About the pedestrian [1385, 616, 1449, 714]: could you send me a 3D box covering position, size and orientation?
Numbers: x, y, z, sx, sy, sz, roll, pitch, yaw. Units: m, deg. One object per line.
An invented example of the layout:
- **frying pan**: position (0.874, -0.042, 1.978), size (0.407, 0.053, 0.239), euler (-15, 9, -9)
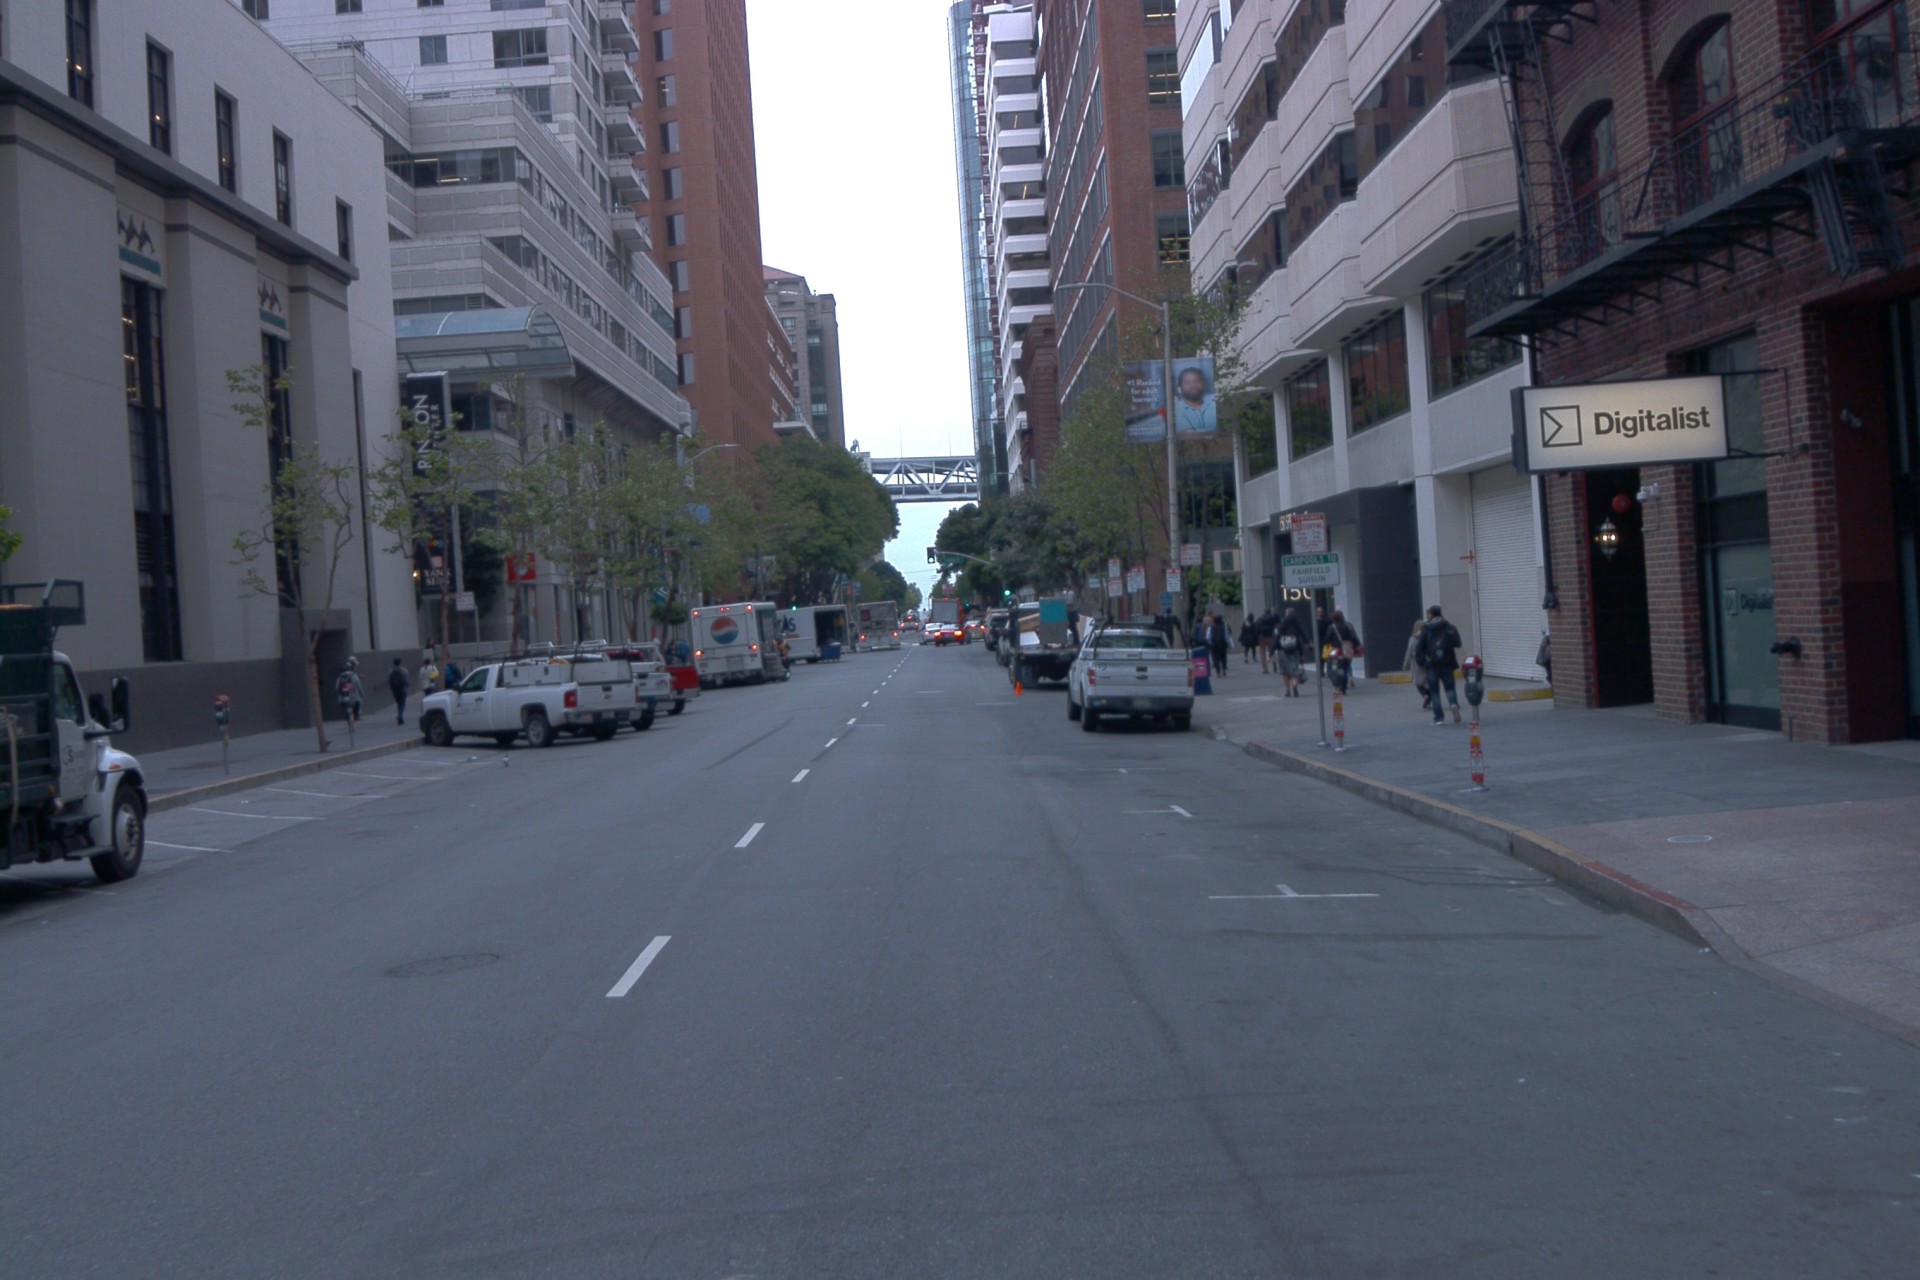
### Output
- **pedestrian**: position (7.592, 0.401, 34.185), size (0.888, 1.600, 0.979), euler (0, 1, 2)

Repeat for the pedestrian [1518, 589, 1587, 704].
- **pedestrian**: position (9.706, 0.099, 33.685), size (0.933, 1.850, 0.881), euler (0, 1, 6)

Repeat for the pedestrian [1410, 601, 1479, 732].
- **pedestrian**: position (6.852, 0.361, 29.088), size (0.740, 1.830, 0.962), euler (0, 1, -1)
